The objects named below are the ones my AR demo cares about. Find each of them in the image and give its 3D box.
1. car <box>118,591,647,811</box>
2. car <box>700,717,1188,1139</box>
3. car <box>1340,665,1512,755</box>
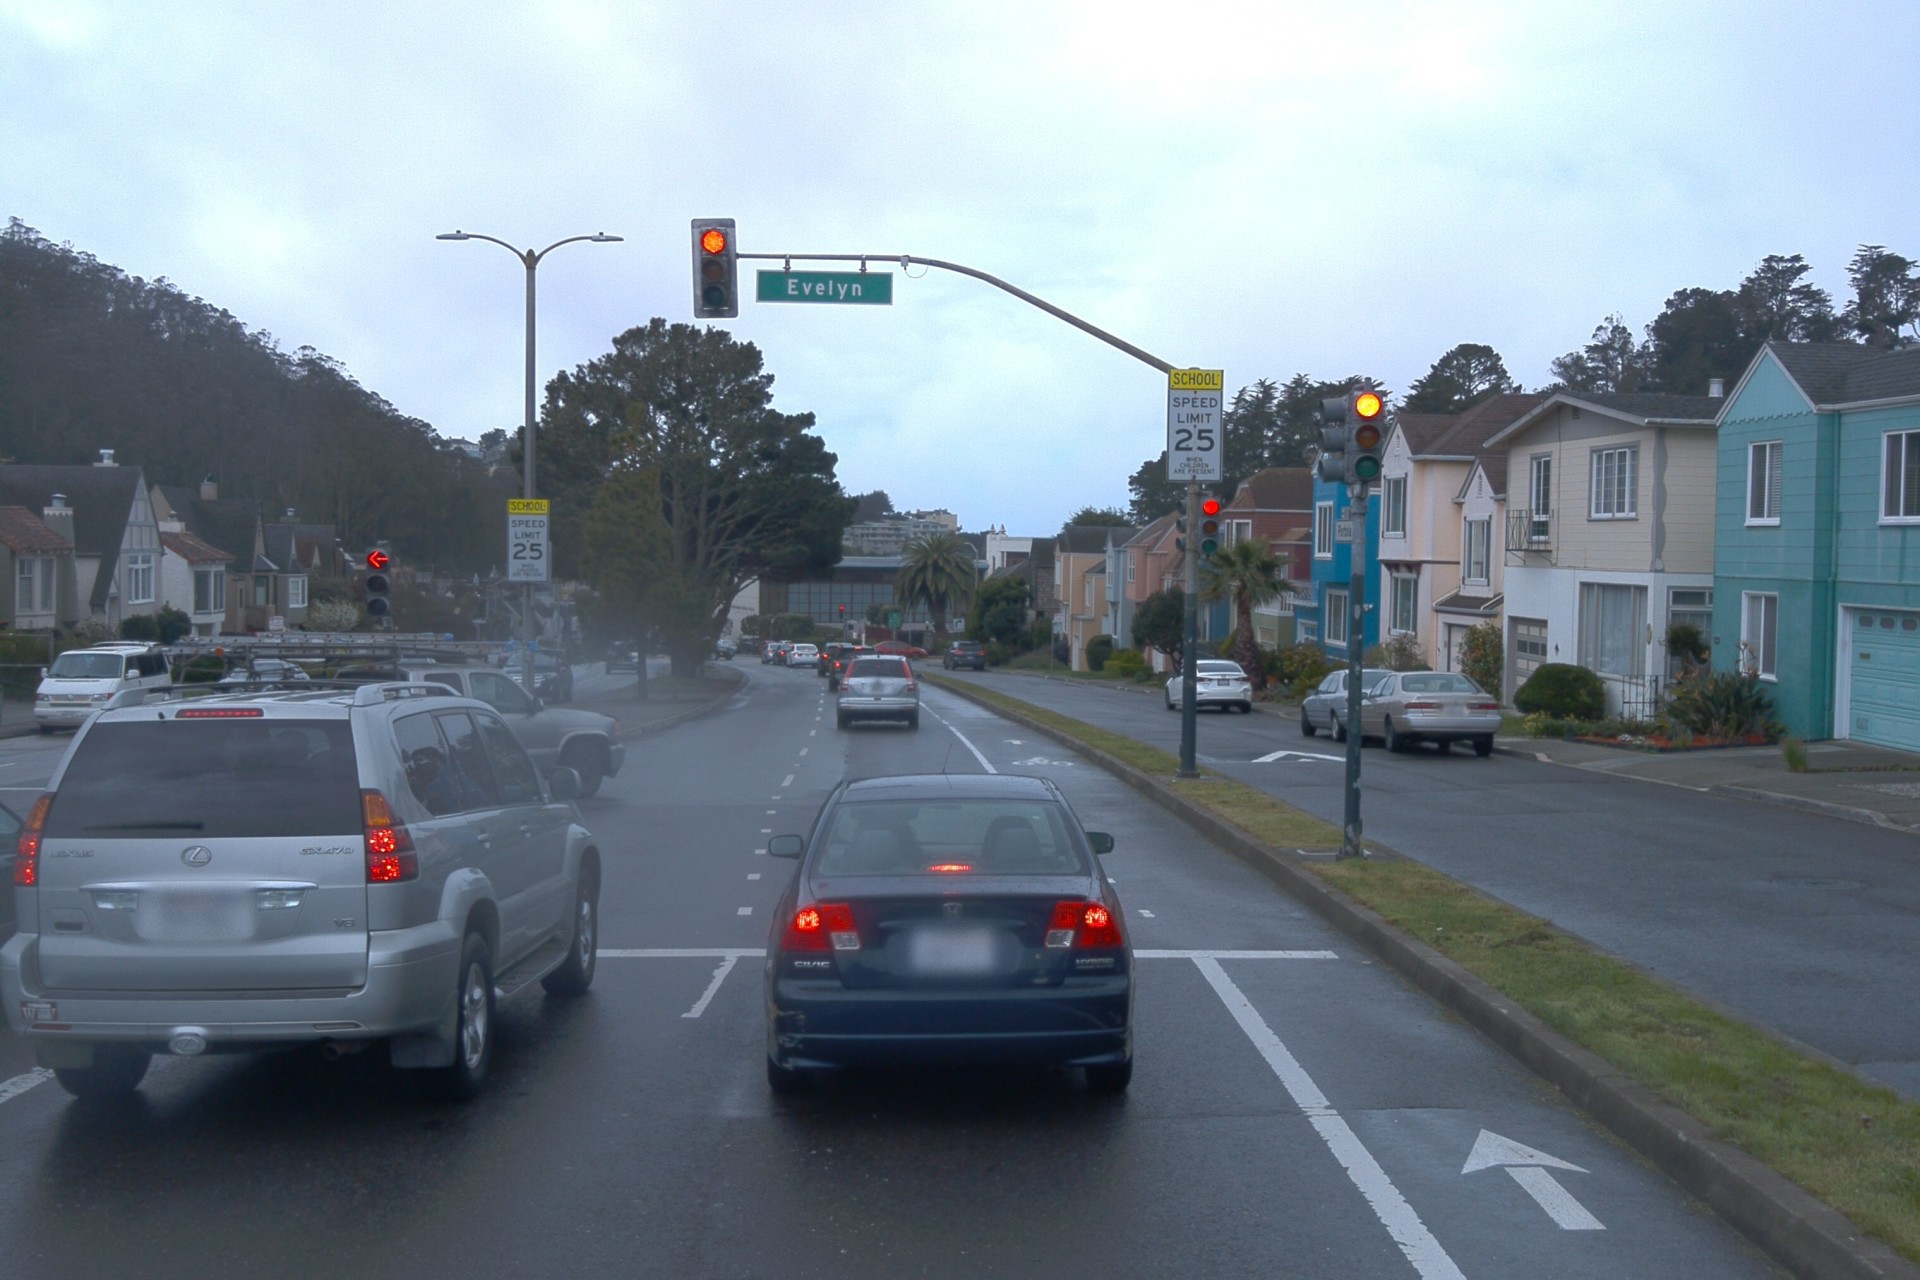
[{"bbox_3d":[-6.838,0.656,25.174,2.427,2.350,5.988,0,0,36],"label":"car"},{"bbox_3d":[-0.106,1.256,10.546,2.004,1.570,4.164,0,0,-1],"label":"car"},{"bbox_3d":[8.084,1.178,36.132,1.755,1.440,4.469,0,0,-4],"label":"car"}]
